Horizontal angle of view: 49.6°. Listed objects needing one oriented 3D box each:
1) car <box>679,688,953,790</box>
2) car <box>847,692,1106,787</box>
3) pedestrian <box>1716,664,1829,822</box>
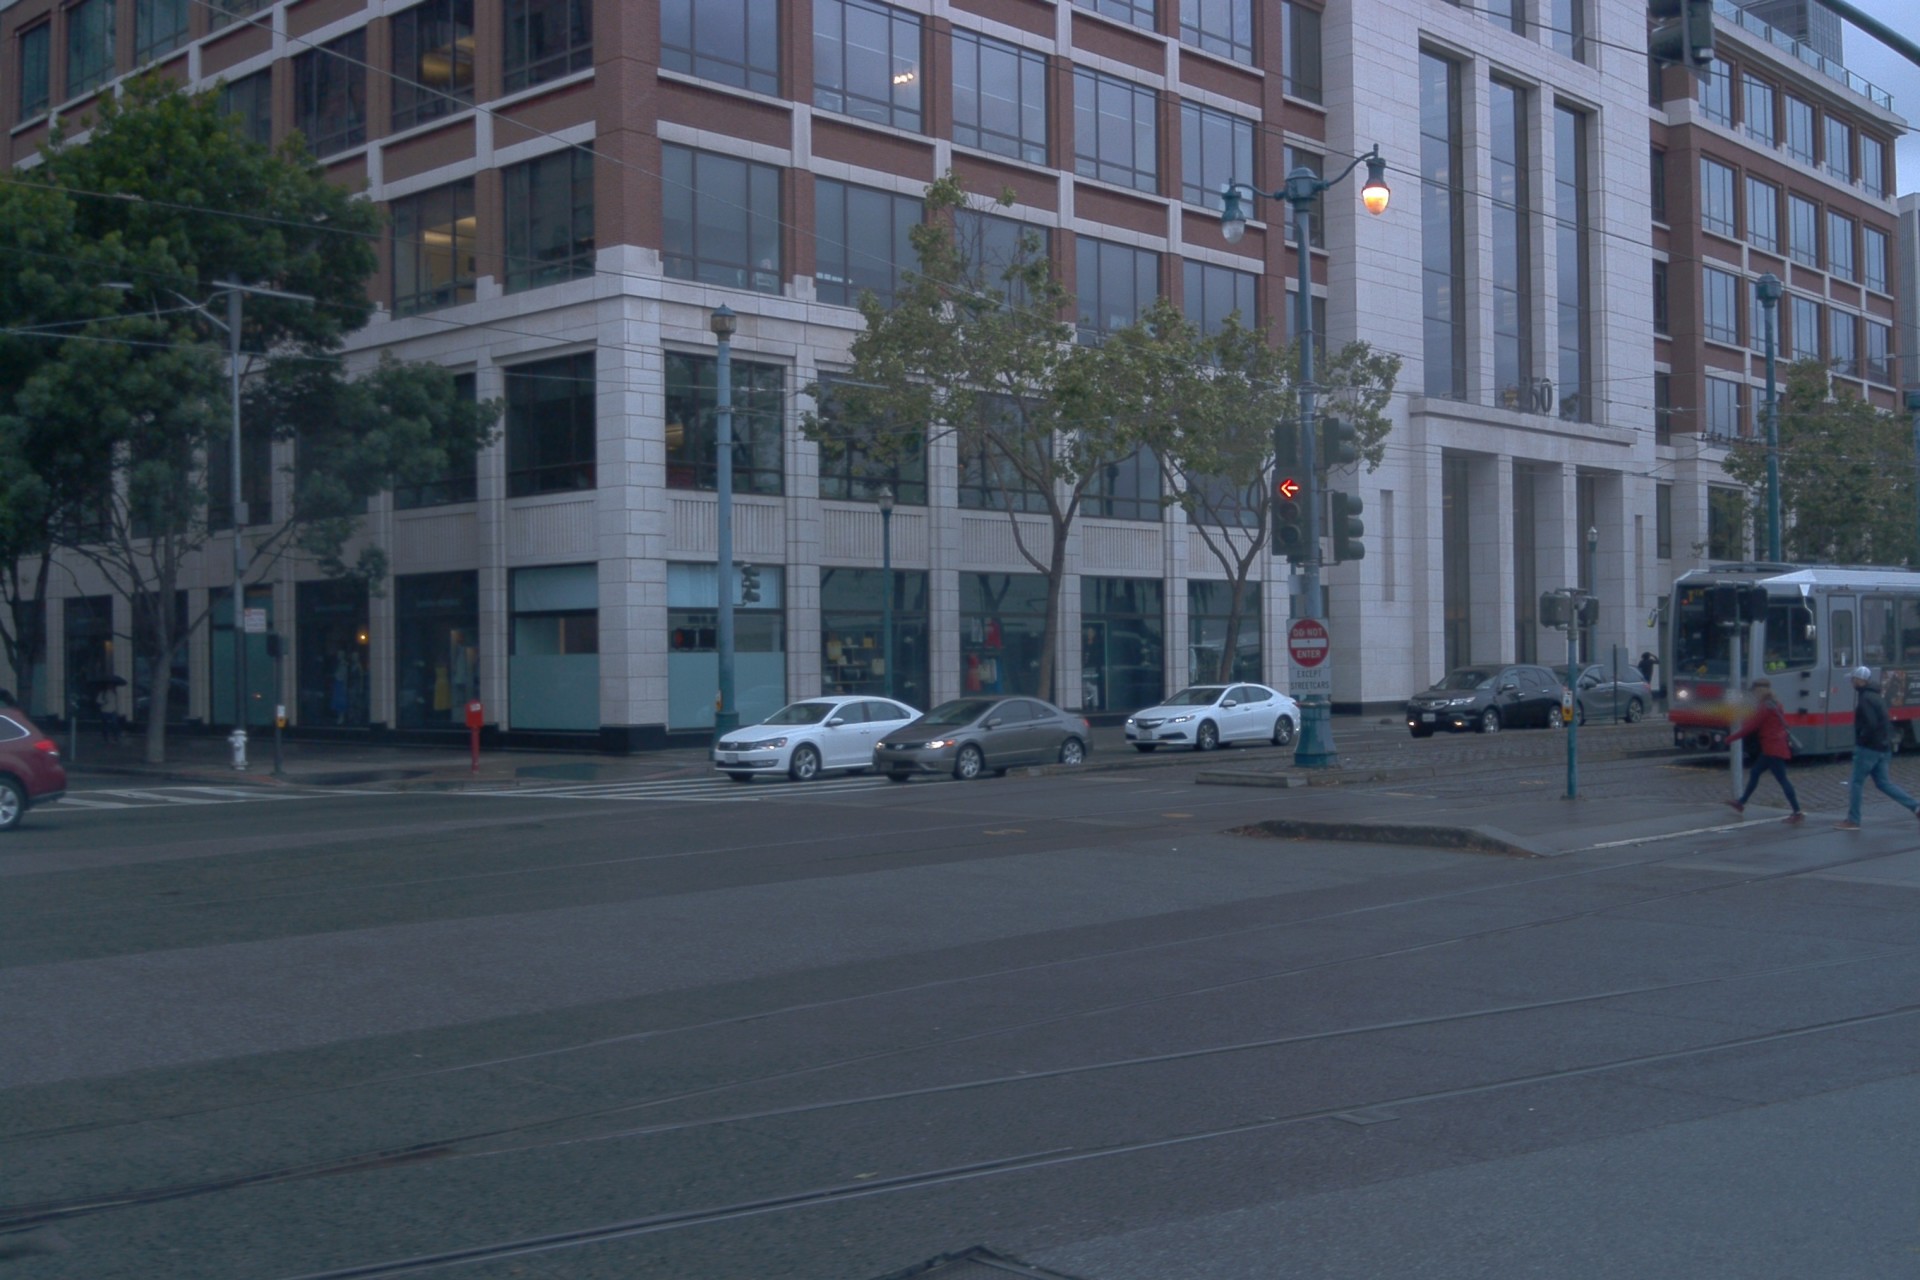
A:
[{"bbox_3d":[-2.482,1.686,36.826,2.021,1.580,4.781,0,0,42],"label":"car"},{"bbox_3d":[0.337,1.615,34.808,1.908,1.380,4.414,0,0,41],"label":"car"},{"bbox_3d":[9.399,1.170,24.058,0.978,1.770,0.836,0,0,41],"label":"pedestrian"}]
